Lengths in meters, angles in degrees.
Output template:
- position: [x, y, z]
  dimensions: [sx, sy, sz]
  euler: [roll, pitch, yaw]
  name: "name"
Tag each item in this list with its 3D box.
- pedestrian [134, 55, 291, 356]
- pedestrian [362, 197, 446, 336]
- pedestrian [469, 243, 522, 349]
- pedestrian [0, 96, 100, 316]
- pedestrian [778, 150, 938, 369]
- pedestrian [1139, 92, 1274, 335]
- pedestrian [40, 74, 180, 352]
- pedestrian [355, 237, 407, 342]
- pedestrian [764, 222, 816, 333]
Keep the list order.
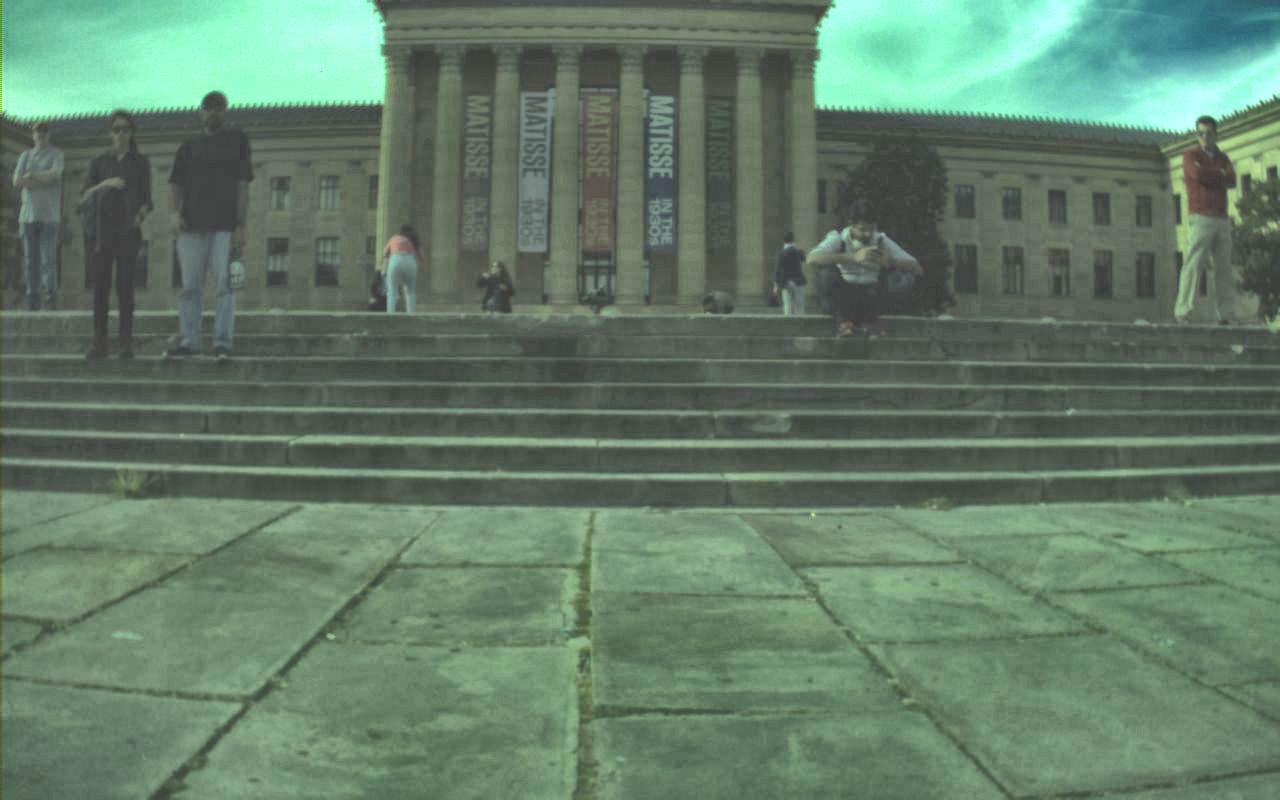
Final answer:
- position: [-2.715, -1.187, 7.555]
  dimensions: [0.758, 1.827, 0.759]
  euler: [0, 0, 0]
  name: "pedestrian"
- position: [-3.053, -1.696, 16.067]
  dimensions: [0.797, 1.734, 0.785]
  euler: [1, 0, 16]
  name: "pedestrian"
- position: [-2.404, -1.700, 20.791]
  dimensions: [0.831, 1.696, 0.831]
  euler: [0, 0, -8]
  name: "pedestrian"
- position: [-5.412, -1.687, 10.124]
  dimensions: [0.772, 1.893, 0.759]
  euler: [0, 0, -1]
  name: "pedestrian"
- position: [1.456, -0.891, 8.271]
  dimensions: [0.822, 1.374, 0.736]
  euler: [1, 0, 37]
  name: "pedestrian"
- position: [4.527, -1.434, 9.184]
  dimensions: [0.804, 1.838, 0.808]
  euler: [0, 0, -4]
  name: "pedestrian"
- position: [-3.450, -1.169, 7.507]
  dimensions: [0.760, 1.737, 0.766]
  euler: [0, 0, -13]
  name: "pedestrian"
- position: [-4.305, -1.817, 20.573]
  dimensions: [0.759, 1.698, 0.758]
  euler: [0, 0, -5]
  name: "pedestrian"
- position: [2.443, -1.982, 20.505]
  dimensions: [0.796, 1.742, 0.791]
  euler: [0, 0, 3]
  name: "pedestrian"
